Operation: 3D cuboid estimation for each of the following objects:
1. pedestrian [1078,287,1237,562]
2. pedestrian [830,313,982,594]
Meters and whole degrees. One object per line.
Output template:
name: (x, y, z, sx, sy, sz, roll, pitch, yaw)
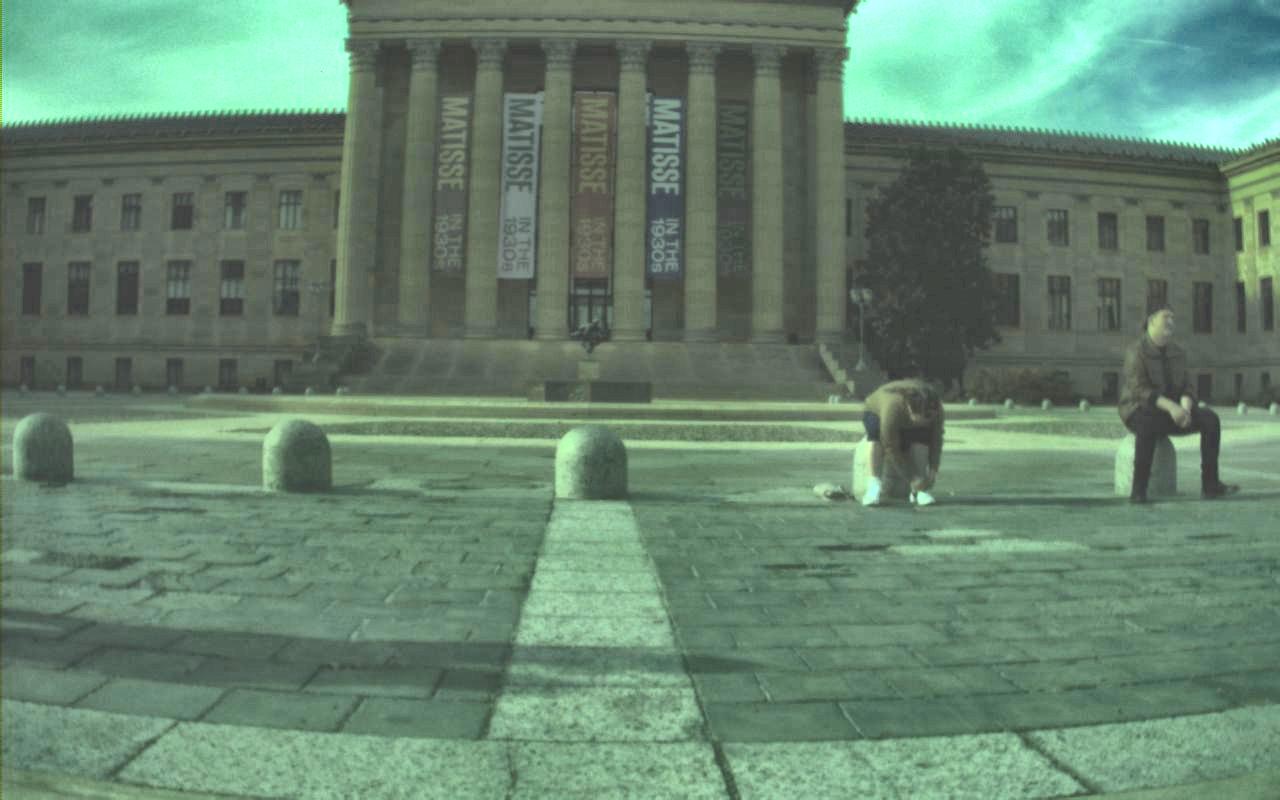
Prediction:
pedestrian: (3.505, 0.162, 7.922, 0.785, 1.748, 0.793, 0, 0, -23)
pedestrian: (1.628, 0.313, 7.656, 0.777, 1.645, 0.809, 0, 0, 0)
